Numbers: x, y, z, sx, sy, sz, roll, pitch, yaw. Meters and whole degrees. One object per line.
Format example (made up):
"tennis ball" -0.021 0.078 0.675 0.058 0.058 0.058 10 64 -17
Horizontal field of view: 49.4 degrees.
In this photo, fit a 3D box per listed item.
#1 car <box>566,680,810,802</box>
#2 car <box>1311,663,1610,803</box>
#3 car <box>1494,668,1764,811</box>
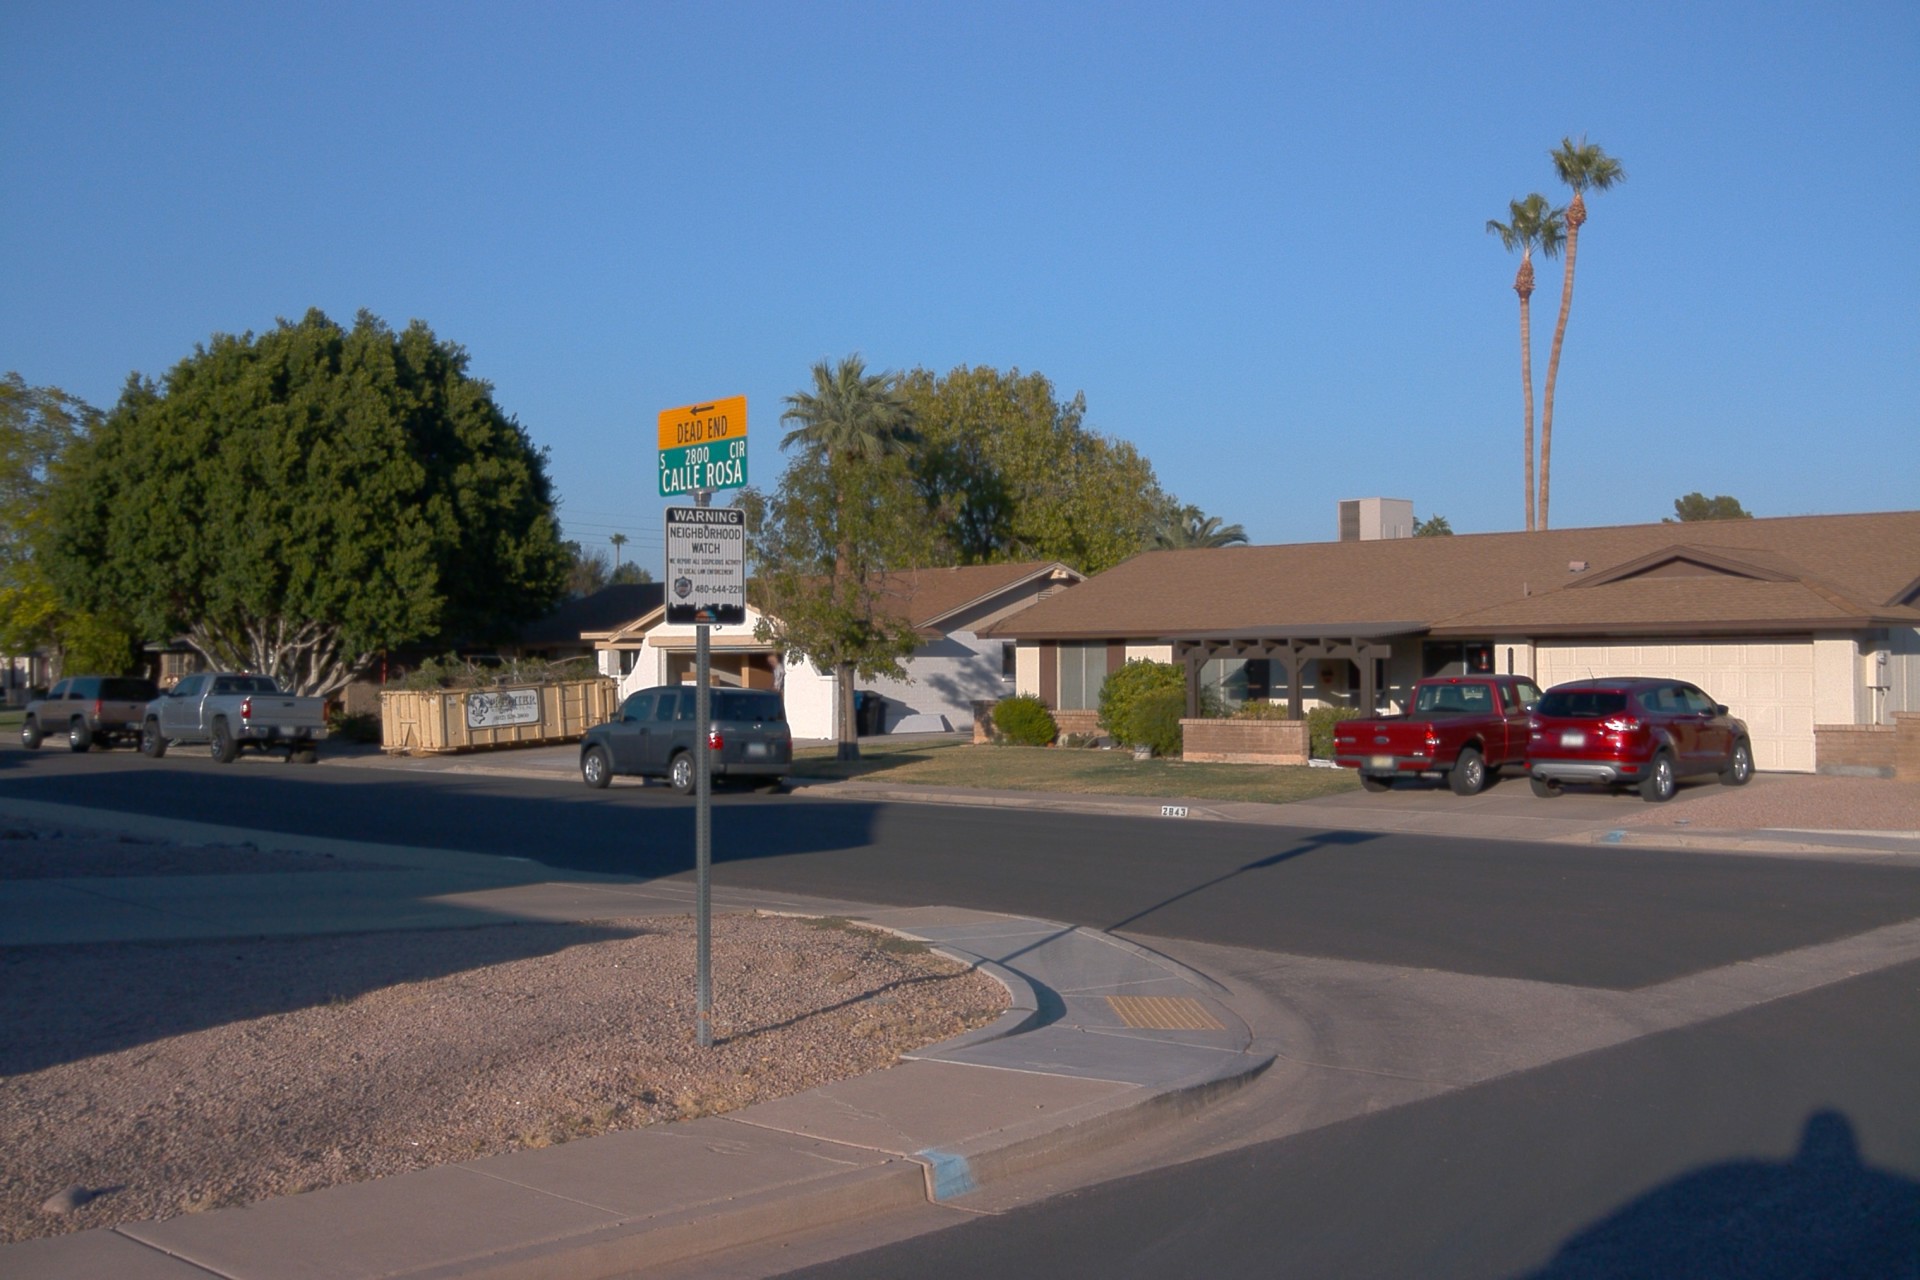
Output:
"car" -4.601 1.625 34.949 1.977 1.810 4.098 1 0 -44
"car" 7.593 1.312 31.329 1.986 1.900 5.227 0 0 44
"car" 9.566 1.328 29.644 1.963 1.830 4.602 0 0 41
